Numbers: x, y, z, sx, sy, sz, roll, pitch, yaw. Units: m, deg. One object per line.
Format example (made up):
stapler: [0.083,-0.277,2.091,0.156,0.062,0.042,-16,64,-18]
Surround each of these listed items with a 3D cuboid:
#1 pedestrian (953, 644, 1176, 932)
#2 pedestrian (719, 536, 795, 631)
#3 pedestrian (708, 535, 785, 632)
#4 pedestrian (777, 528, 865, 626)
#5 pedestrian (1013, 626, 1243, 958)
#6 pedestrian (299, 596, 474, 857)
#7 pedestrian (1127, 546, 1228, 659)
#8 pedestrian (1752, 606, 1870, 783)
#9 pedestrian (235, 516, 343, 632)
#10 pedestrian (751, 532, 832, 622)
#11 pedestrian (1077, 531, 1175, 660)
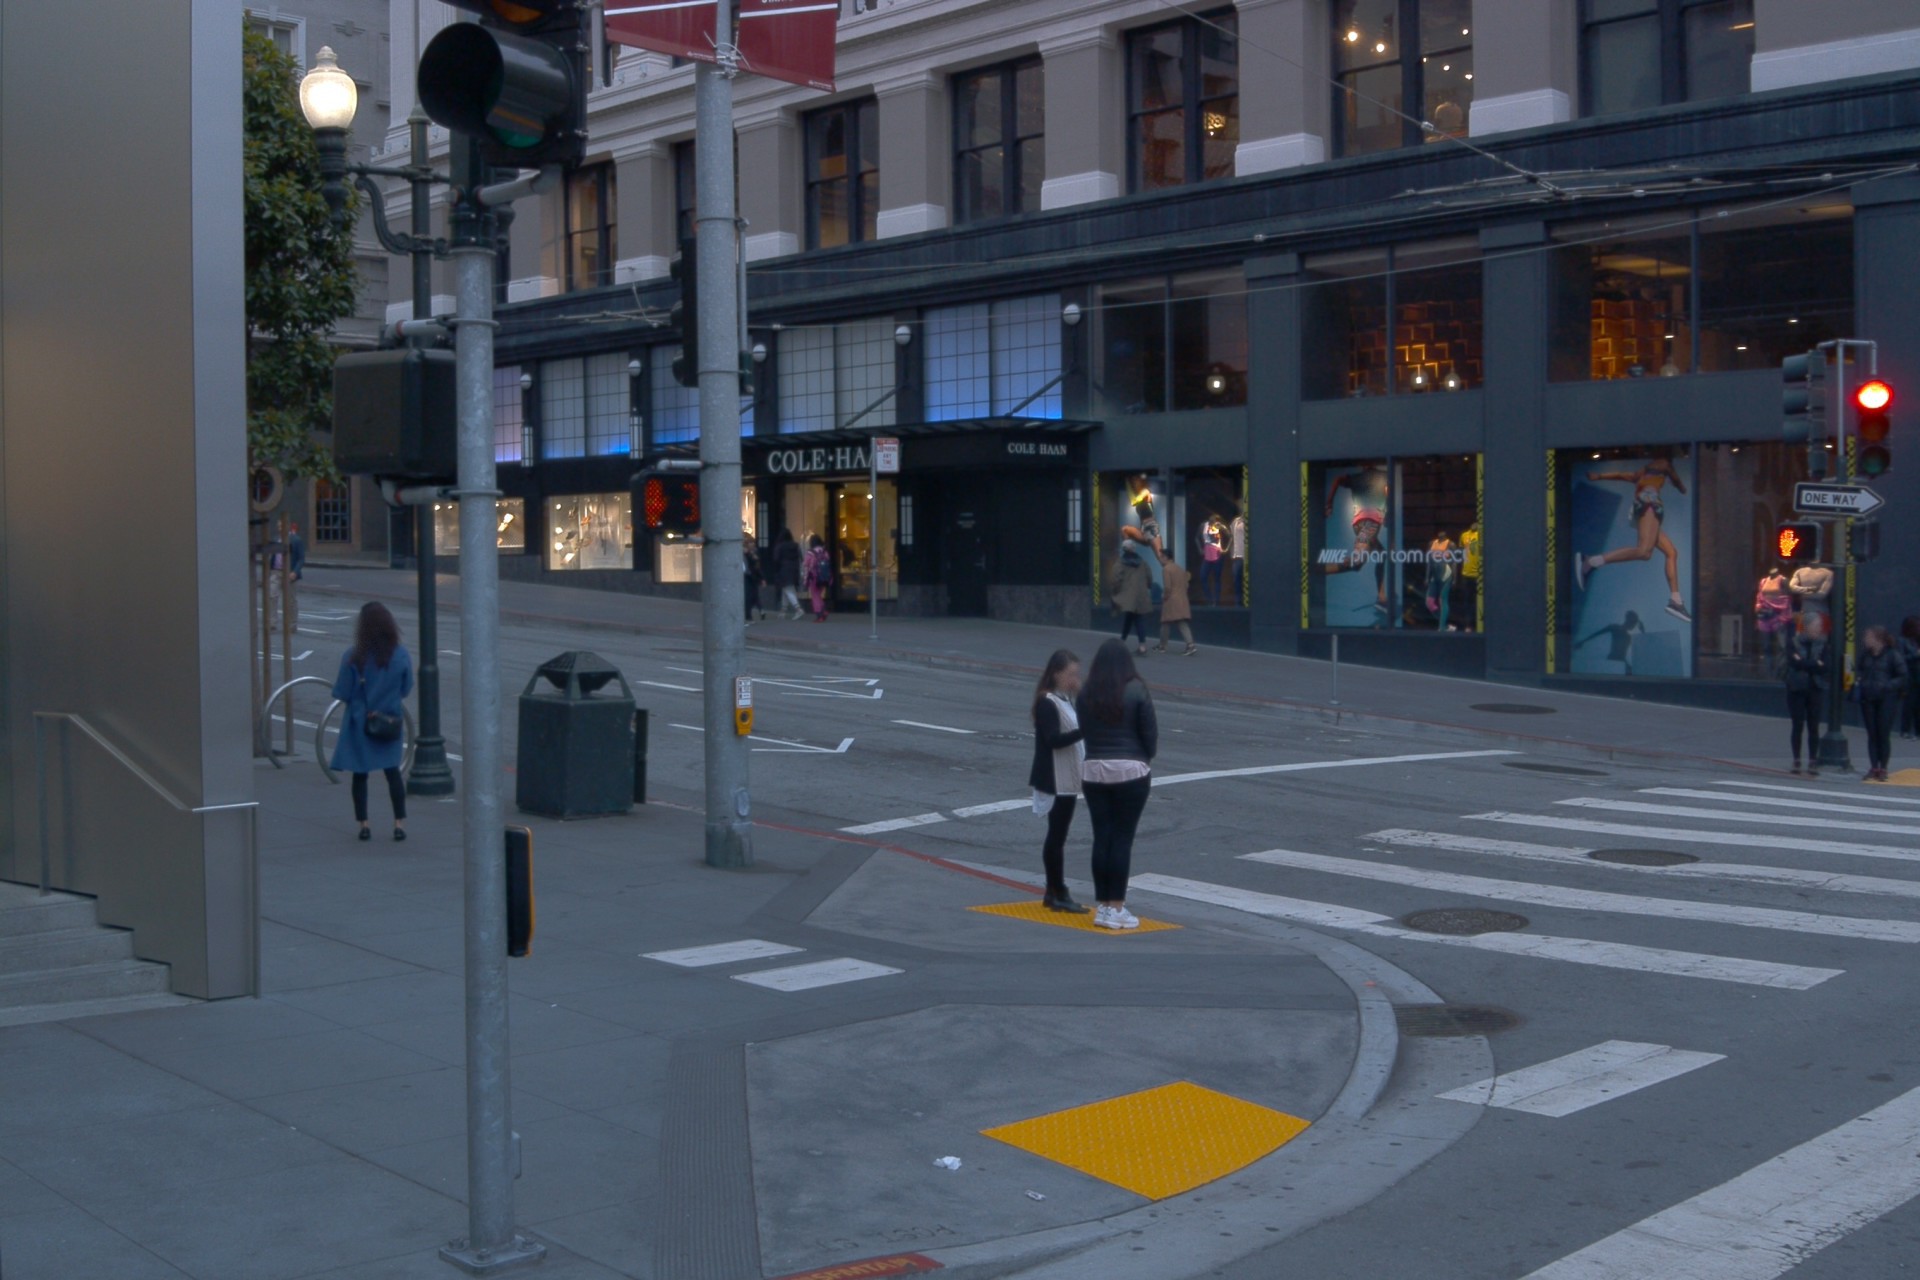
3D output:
pedestrian: [0.665,0.895,13.056,0.997,1.710,1.003,1,1,44]
pedestrian: [-3.591,-0.995,36.222,0.891,1.650,1.047,0,1,-43]
pedestrian: [-3.714,-0.972,35.633,0.891,1.650,1.047,0,1,-43]
pedestrian: [-2.454,-1.092,36.141,1.127,1.690,1.184,0,1,-32]
pedestrian: [1.011,0.867,12.353,1.113,1.890,0.813,0,1,-33]
pedestrian: [-4.011,0.572,14.320,0.951,1.750,0.801,0,1,-37]
pedestrian: [3.331,-0.575,31.425,1.053,1.700,1.109,0,1,-42]
pedestrian: [8.945,0.545,21.527,0.895,1.800,1.088,1,1,36]
pedestrian: [-10.530,-1.024,32.199,1.094,1.780,1.342,0,1,11]
pedestrian: [-3.100,-1.150,37.677,0.965,1.630,1.148,-1,1,-44]
pedestrian: [2.525,-0.674,31.187,1.104,1.920,0.963,1,1,44]
